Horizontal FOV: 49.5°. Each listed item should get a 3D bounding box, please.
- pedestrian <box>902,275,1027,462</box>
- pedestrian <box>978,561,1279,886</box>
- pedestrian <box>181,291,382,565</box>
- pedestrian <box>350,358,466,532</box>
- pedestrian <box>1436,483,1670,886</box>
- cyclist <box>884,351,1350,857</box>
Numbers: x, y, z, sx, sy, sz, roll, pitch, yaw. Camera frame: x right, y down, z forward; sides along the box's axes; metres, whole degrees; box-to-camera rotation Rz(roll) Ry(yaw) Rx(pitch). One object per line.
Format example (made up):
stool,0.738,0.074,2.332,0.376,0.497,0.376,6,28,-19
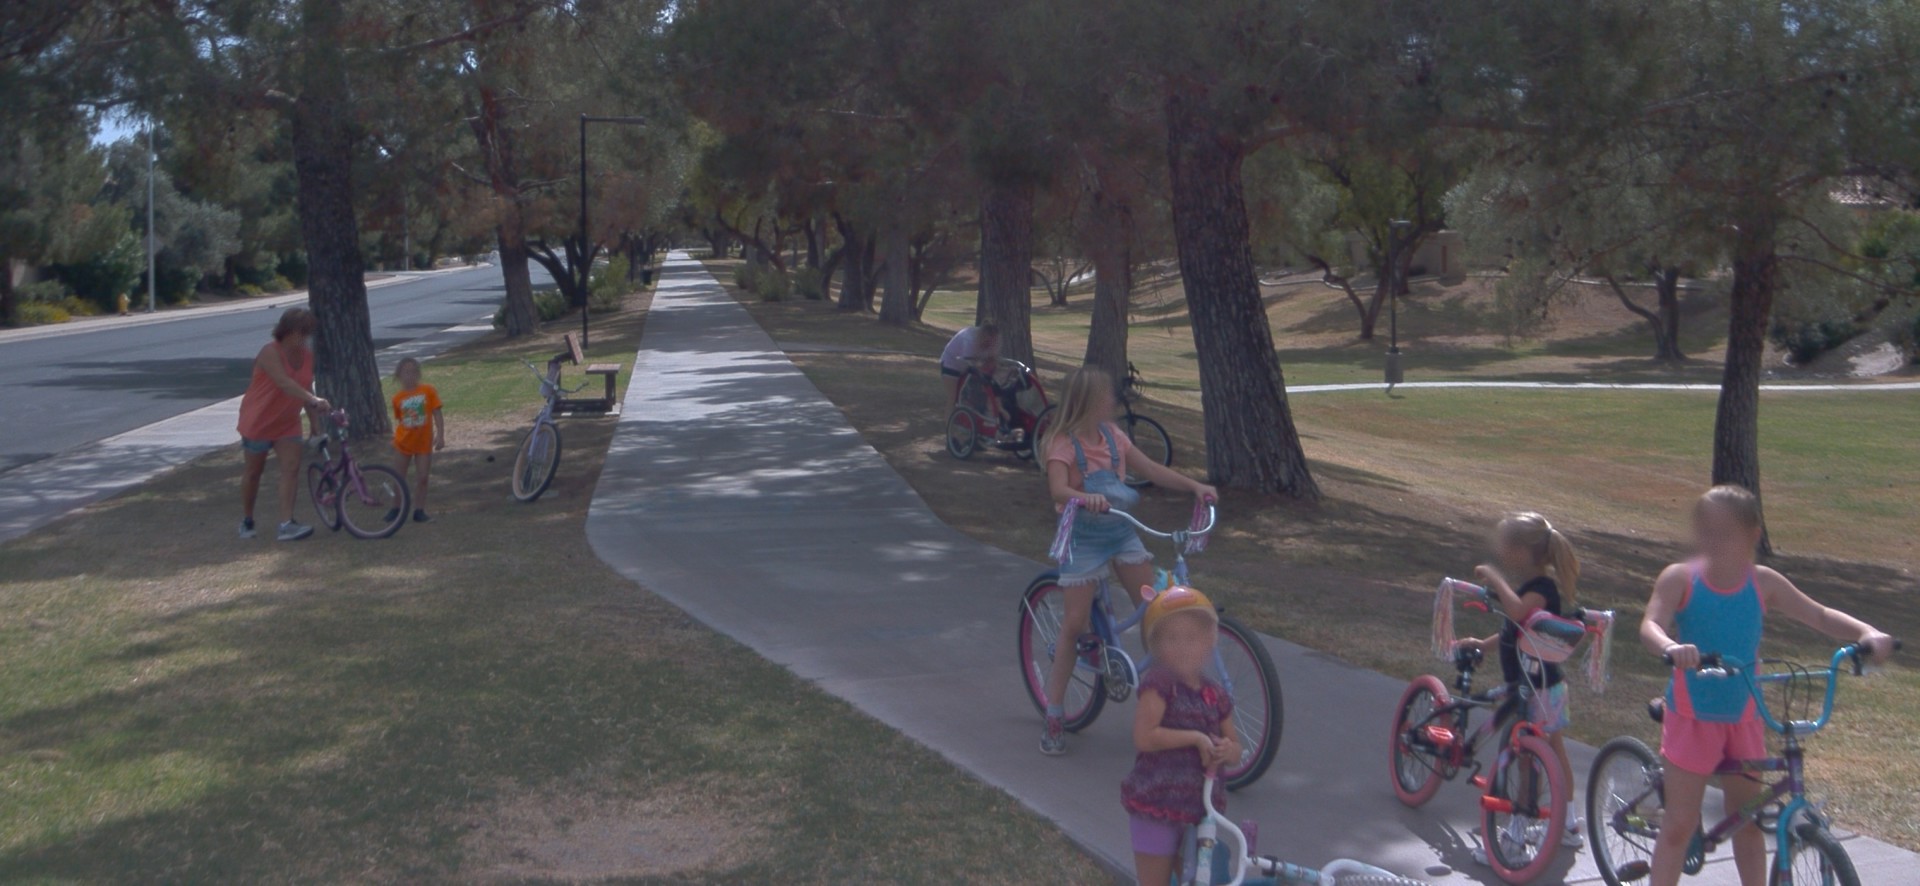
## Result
pedestrian,0.040,-0.739,19.846,0.834,1.712,0.899,0,1,-33
pedestrian,0.438,0.956,5.426,0.730,1.181,0.724,0,1,4
pedestrian,-4.554,-0.147,13.966,1.035,1.722,0.896,1,1,45
pedestrian,-3.947,-0.001,14.920,0.732,1.181,0.598,0,0,-9
pedestrian,1.883,0.755,6.649,0.518,1.181,0.552,0,0,-13
cyclist,0.533,0.485,7.862,0.927,1.570,1.776,0,2,-30
